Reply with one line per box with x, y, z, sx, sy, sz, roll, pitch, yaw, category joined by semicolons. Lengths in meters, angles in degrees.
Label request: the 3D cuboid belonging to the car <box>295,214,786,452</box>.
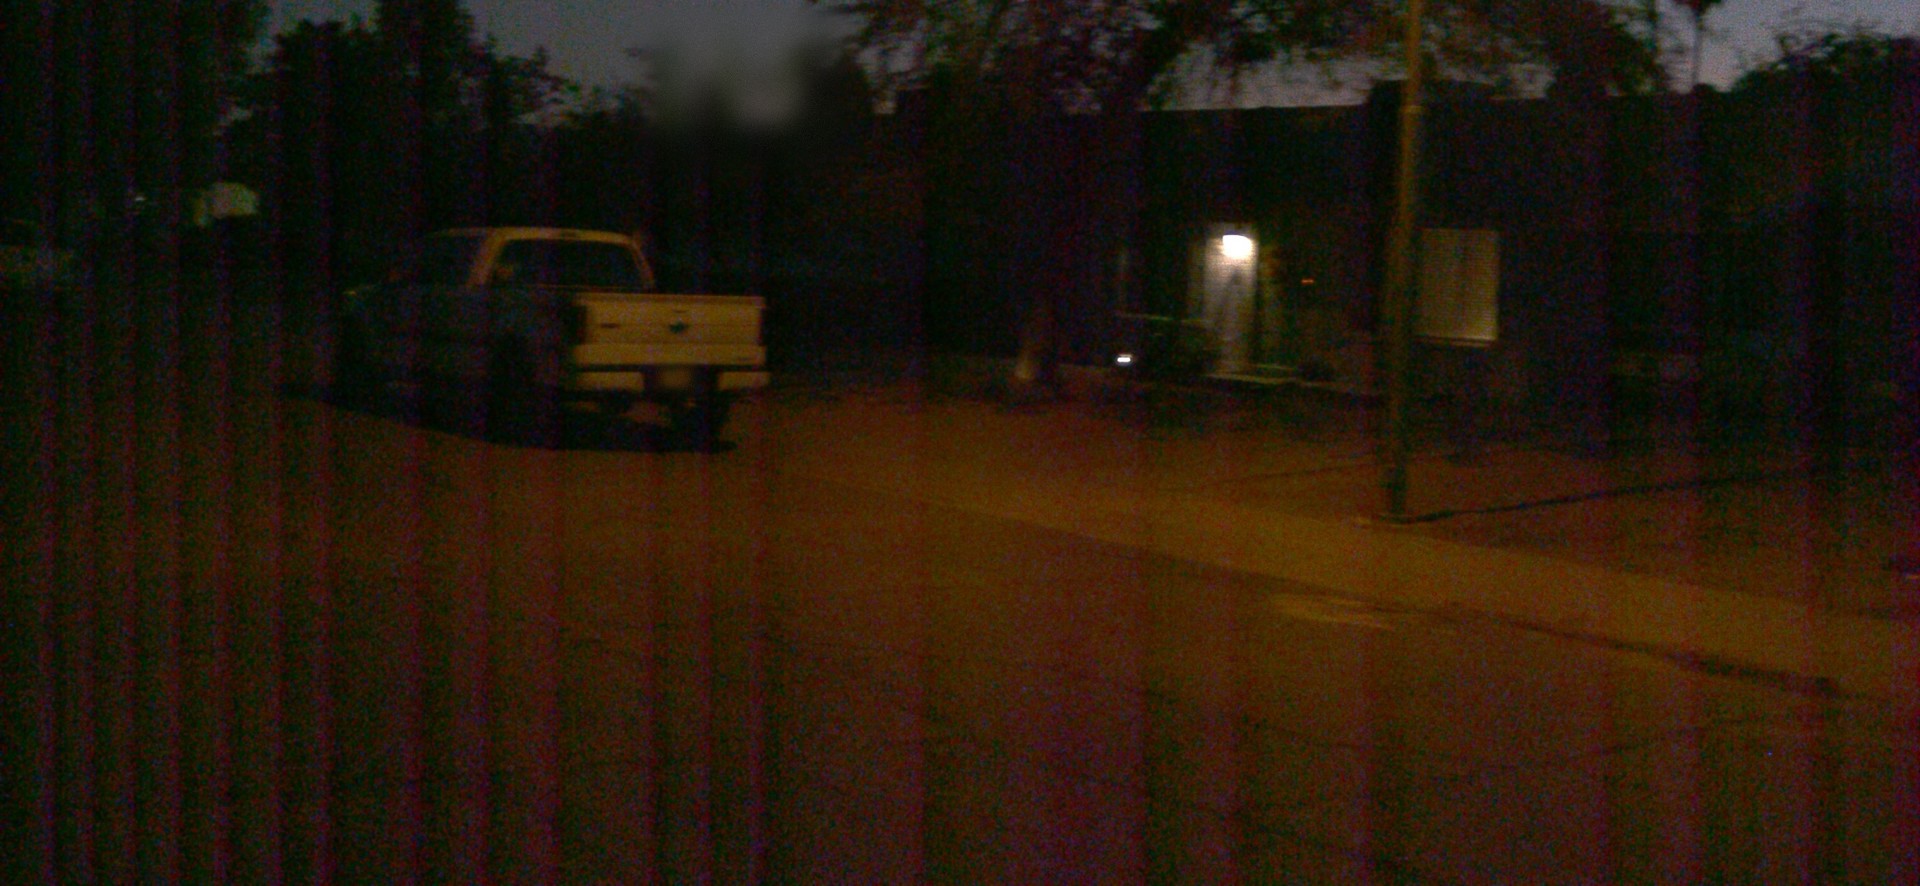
-4.398;-1.269;20.889;2.350;2.002;6.276;-2;6;-37;car

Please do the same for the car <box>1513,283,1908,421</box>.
8.903;-1.145;24.769;4.325;1.385;2.208;-3;6;-32;car
